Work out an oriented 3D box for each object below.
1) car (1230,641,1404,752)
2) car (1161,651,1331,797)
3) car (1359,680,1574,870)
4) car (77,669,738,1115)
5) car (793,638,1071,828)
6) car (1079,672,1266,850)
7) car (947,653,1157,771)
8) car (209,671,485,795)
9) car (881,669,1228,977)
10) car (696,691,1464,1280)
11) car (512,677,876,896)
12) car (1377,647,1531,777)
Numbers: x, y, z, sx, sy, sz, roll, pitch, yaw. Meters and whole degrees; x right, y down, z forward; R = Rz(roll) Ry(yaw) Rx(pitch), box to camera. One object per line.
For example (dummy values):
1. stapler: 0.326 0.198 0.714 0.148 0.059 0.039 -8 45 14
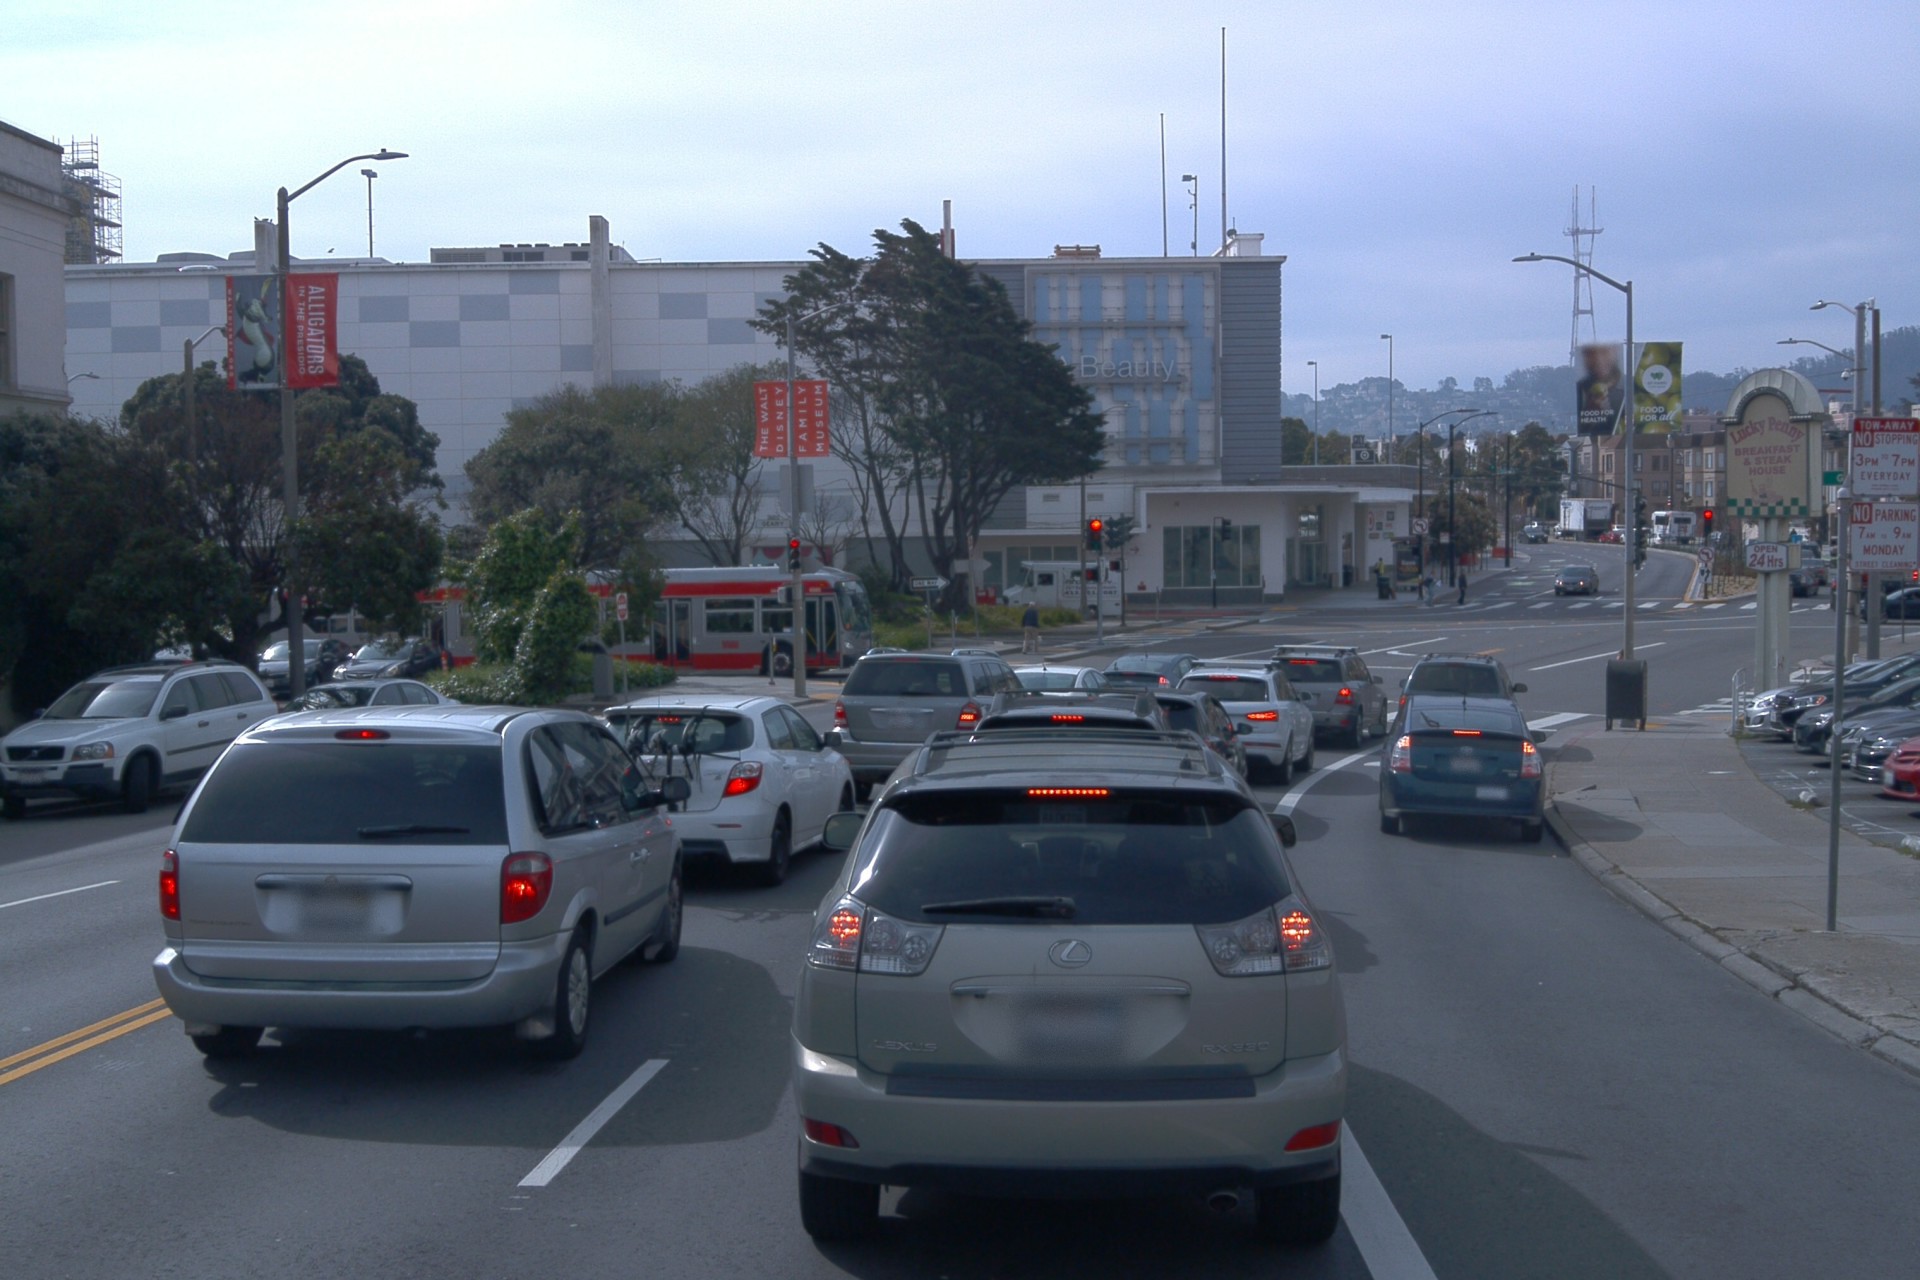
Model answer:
1. car: 6.641 0.963 37.539 2.226 1.850 5.307 1 0 20
2. car: 4.160 1.124 29.231 1.795 1.880 4.044 1 0 17
3. car: 5.627 1.415 23.175 2.113 1.790 4.645 1 0 12
4. car: -2.684 1.129 11.269 2.131 1.830 4.635 1 0 4
5. car: -0.210 1.041 25.536 2.236 2.100 4.827 1 0 15
6. car: 2.538 1.310 23.697 1.526 1.780 3.939 1 0 15
7. car: 1.569 1.078 32.727 2.220 1.670 4.643 1 0 18
8. car: -9.230 1.341 31.231 1.977 1.640 4.663 1 0 13
9. car: 0.883 1.204 15.435 2.119 1.870 4.391 1 0 9
10. car: 0.408 1.169 8.133 2.197 1.780 4.467 1 0 2
11. car: -2.125 1.142 17.680 1.982 1.530 4.306 1 0 9
12. car: 8.549 1.155 35.082 2.203 2.020 4.801 1 0 18
